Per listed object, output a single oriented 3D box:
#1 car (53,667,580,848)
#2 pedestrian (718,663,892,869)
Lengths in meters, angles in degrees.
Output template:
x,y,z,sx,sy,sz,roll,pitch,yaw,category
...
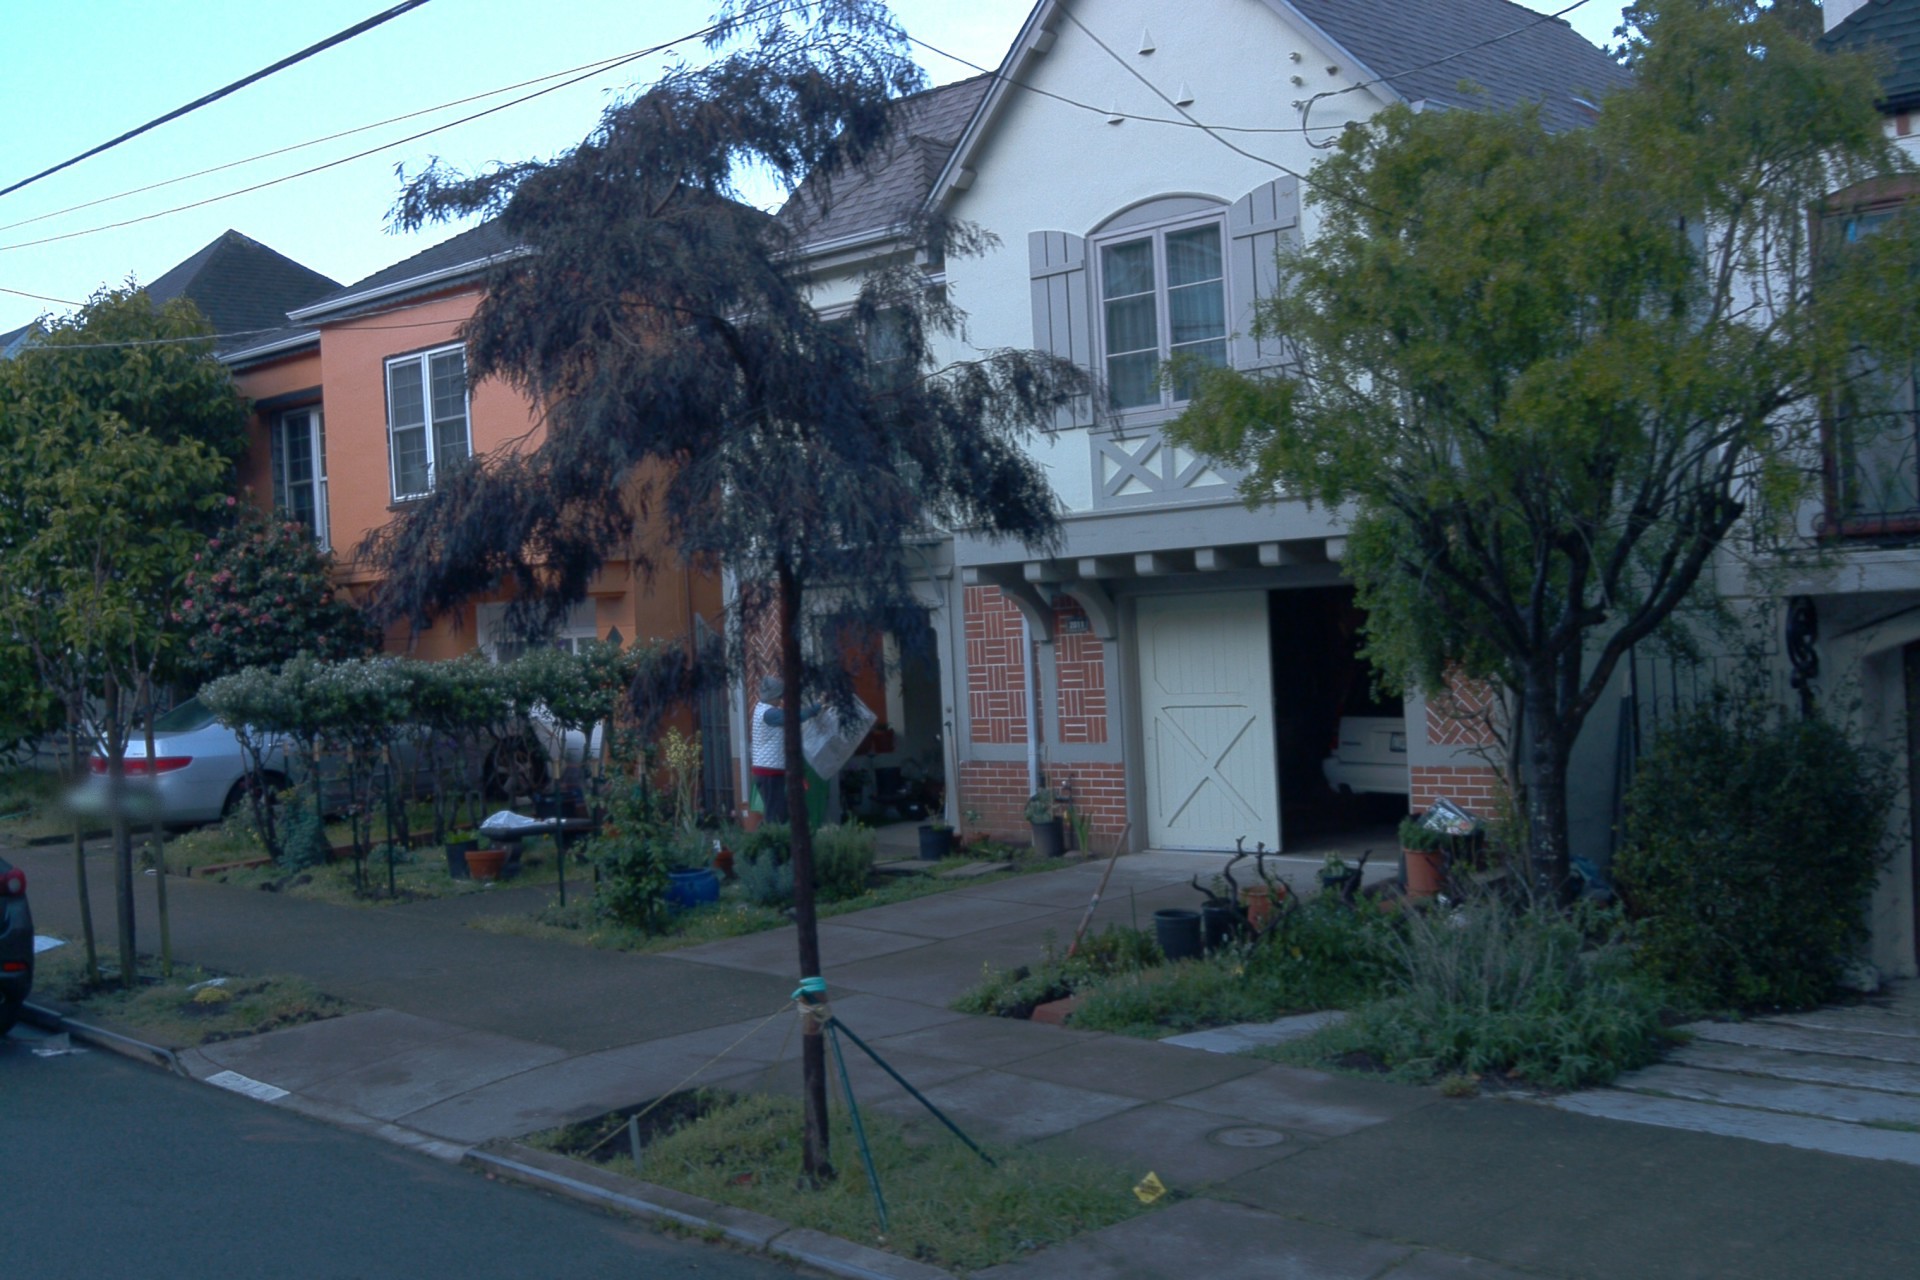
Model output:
x,y,z,sx,sy,sz,roll,pitch,yaw,category
-6.257,1.062,20.393,4.591,1.540,1.961,0,0,-45,car
-1.292,1.011,17.036,1.220,1.620,1.013,0,0,-18,pedestrian
